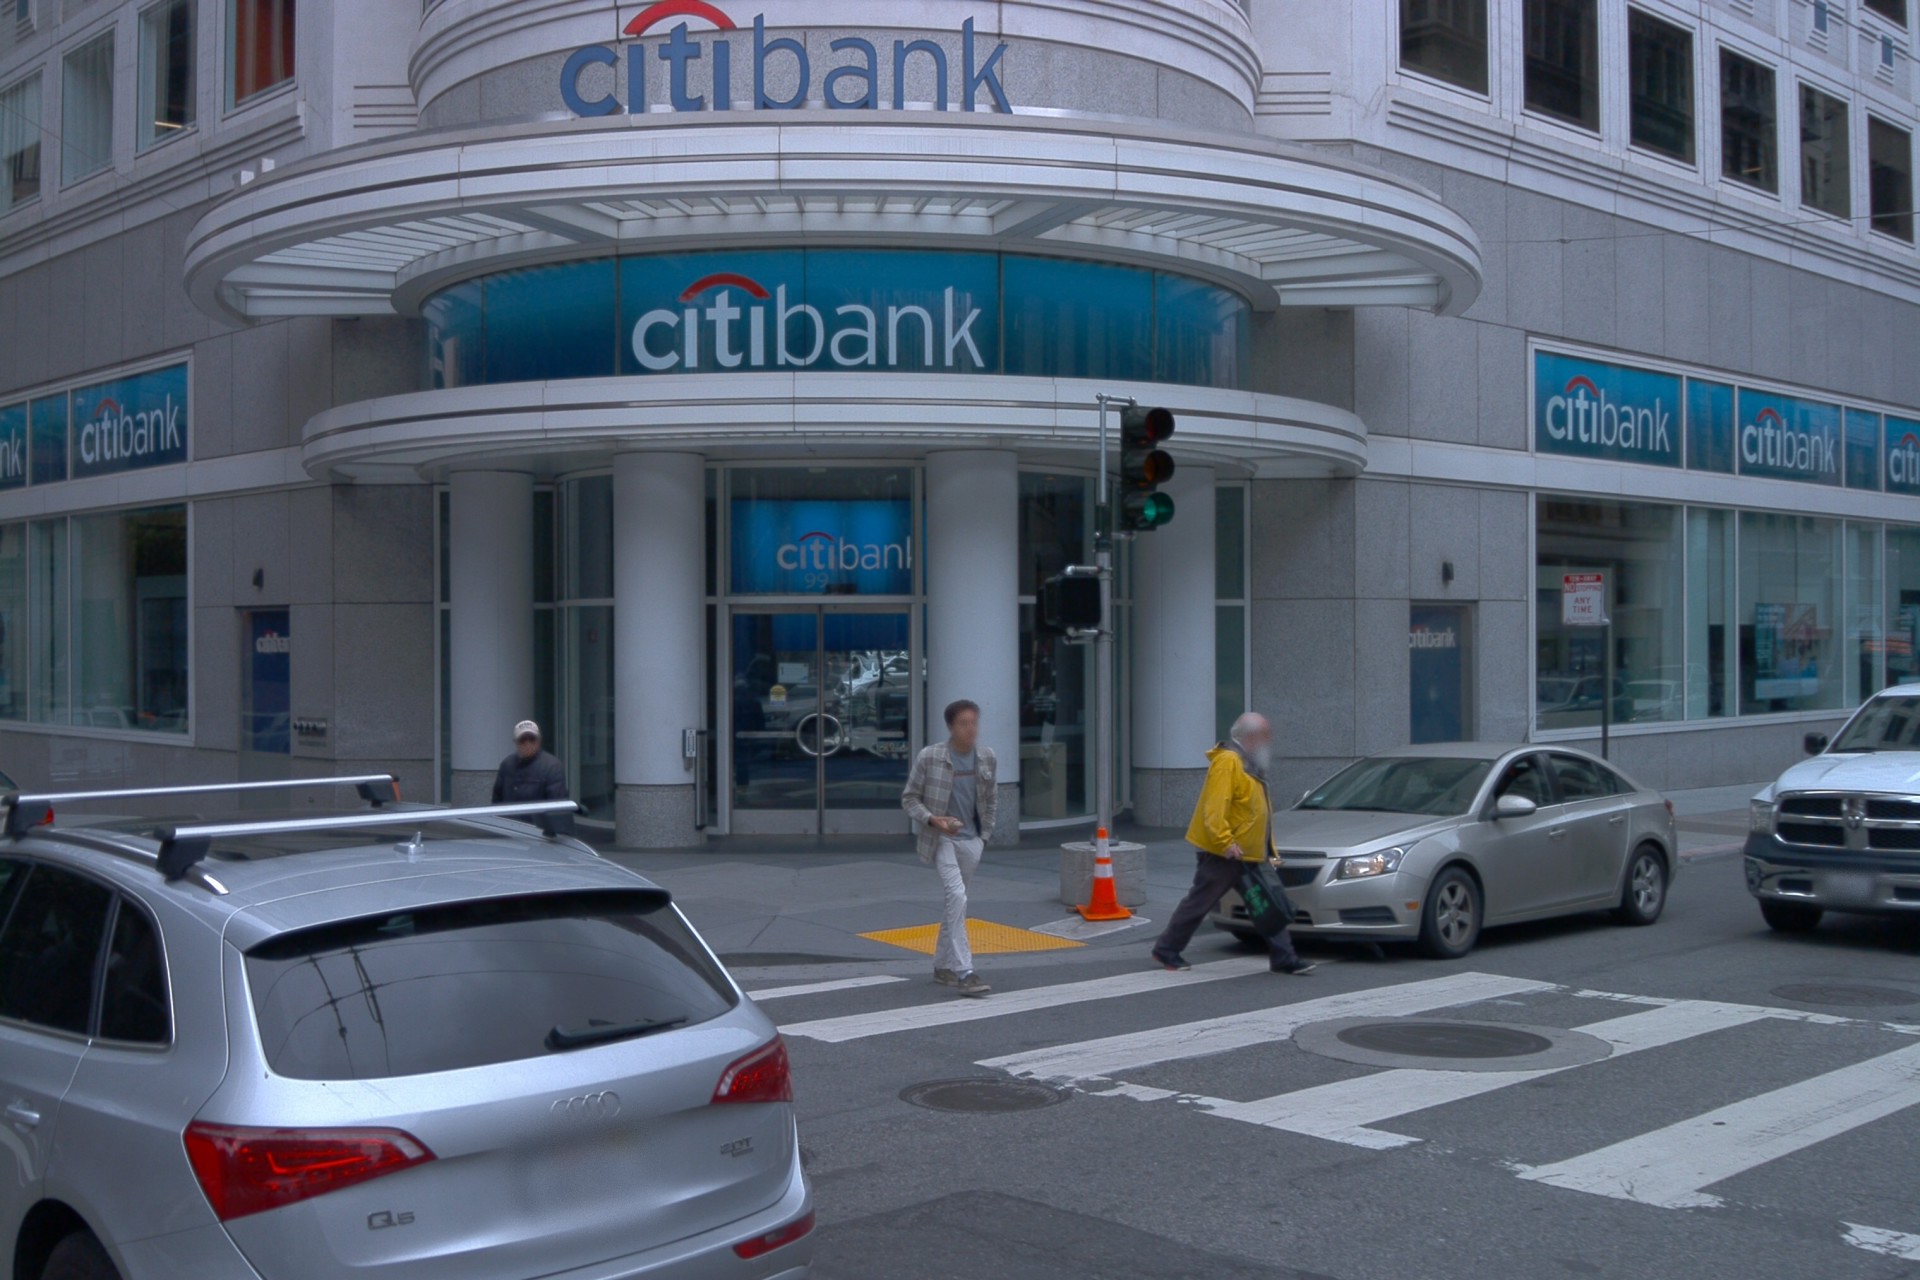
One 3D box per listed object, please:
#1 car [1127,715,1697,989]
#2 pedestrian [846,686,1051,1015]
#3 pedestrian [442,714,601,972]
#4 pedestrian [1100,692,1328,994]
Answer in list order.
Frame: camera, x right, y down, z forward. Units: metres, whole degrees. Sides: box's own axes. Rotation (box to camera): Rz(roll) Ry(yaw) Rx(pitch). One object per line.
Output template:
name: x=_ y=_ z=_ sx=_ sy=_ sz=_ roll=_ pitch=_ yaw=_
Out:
car: x=3.566 y=1.455 z=15.619 sx=2.119 sy=1.590 sz=4.567 roll=0 pitch=0 yaw=45
pedestrian: x=-0.090 y=1.269 z=12.904 sx=0.824 sy=1.920 sz=1.196 roll=0 pitch=0 yaw=-28
pedestrian: x=-3.170 y=1.438 z=14.848 sx=0.795 sy=1.760 sz=0.801 roll=0 pitch=0 yaw=31
pedestrian: x=1.661 y=1.278 z=13.439 sx=1.223 sy=1.840 sz=0.834 roll=0 pitch=0 yaw=44
